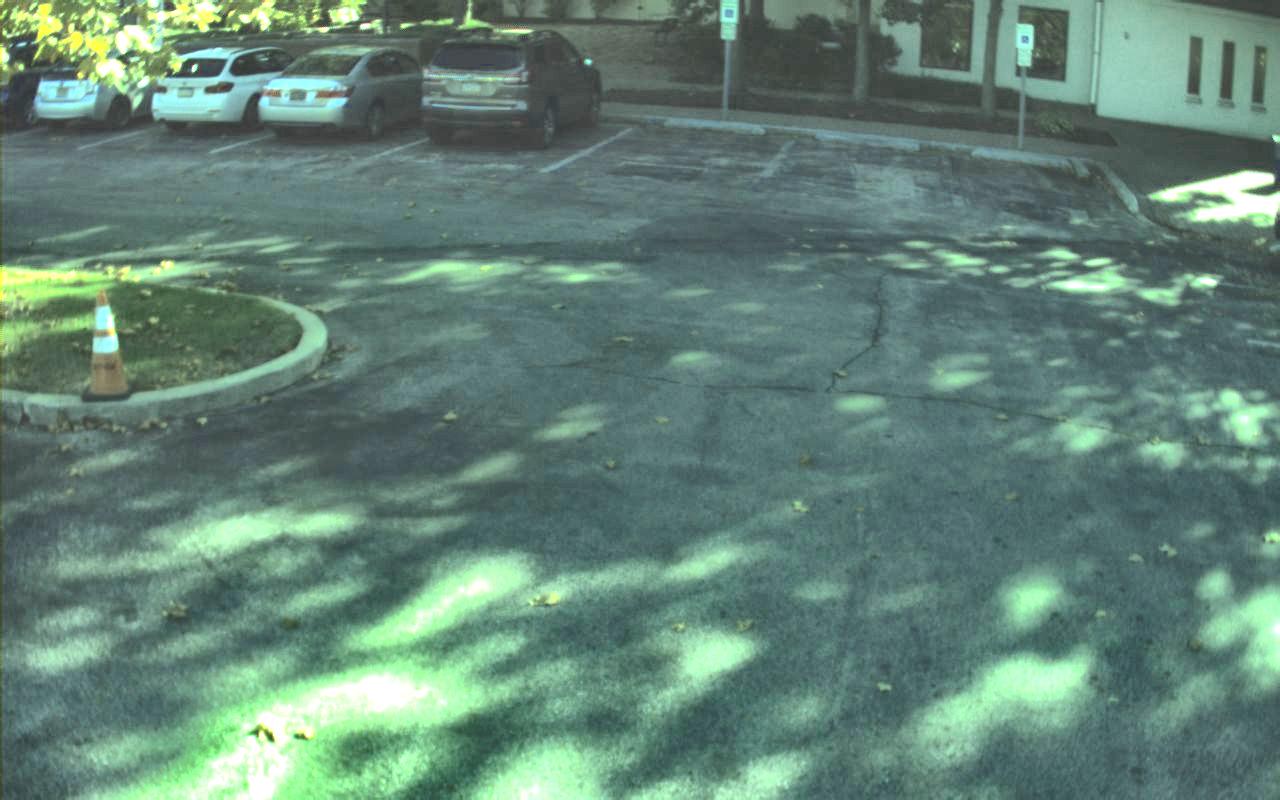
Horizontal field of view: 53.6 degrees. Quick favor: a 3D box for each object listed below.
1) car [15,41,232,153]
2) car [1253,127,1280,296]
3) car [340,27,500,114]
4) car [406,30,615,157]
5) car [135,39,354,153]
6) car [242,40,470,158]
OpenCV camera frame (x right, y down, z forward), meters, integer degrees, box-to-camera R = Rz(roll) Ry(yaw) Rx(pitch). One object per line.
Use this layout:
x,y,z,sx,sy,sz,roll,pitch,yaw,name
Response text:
-9.752,-5.758,21.677,1.951,1.607,4.536,3,17,15,car
9.825,-2.268,13.018,4.350,1.691,1.969,-1,16,0,car
-4.739,-7.289,26.747,2.022,1.635,4.598,2,17,11,car
-1.921,-5.010,19.767,2.009,1.735,4.718,2,17,12,car
-6.963,-5.459,21.068,1.920,1.606,4.438,3,17,15,car
-4.597,-5.059,20.090,1.915,1.583,4.474,4,17,16,car
